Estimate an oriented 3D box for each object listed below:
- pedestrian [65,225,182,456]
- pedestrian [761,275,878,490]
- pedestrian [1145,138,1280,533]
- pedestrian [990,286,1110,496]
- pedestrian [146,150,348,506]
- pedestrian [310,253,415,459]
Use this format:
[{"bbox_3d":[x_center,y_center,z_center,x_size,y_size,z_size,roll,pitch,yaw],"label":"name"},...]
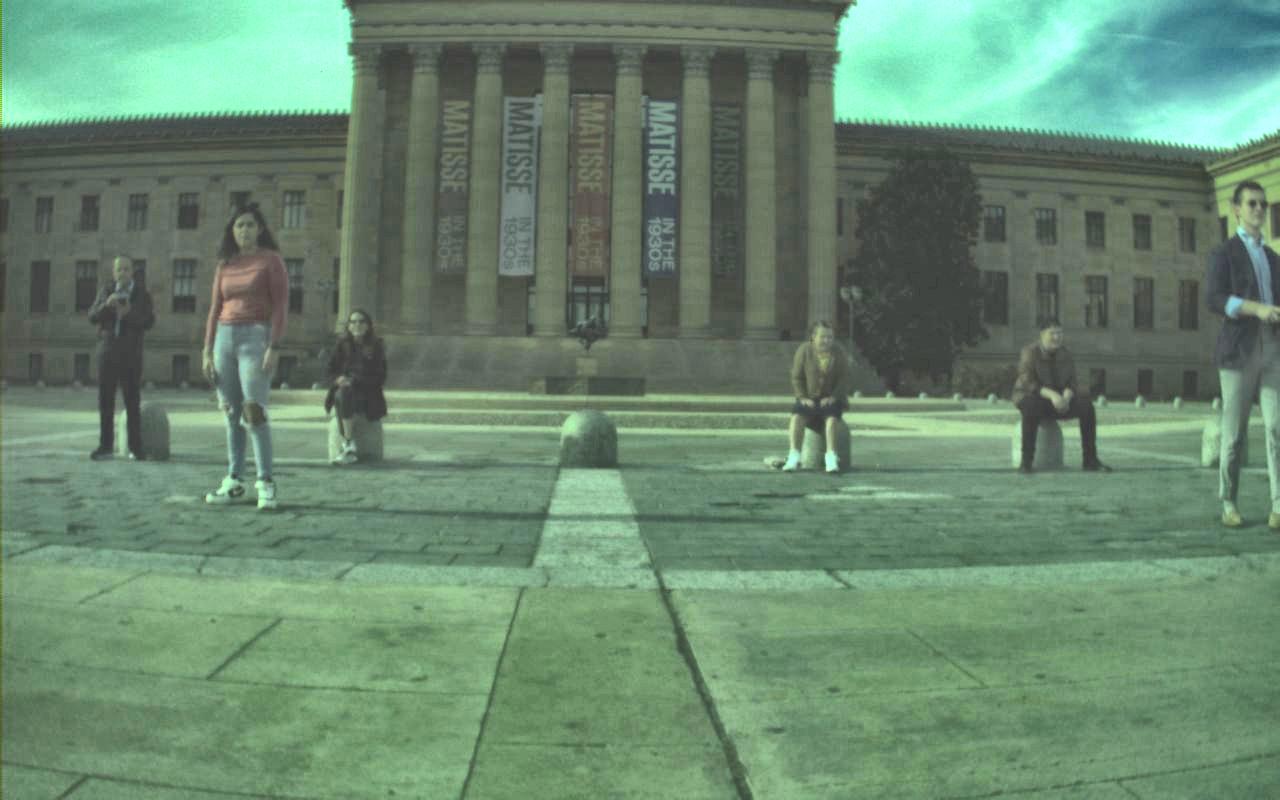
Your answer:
[{"bbox_3d":[-4.160,-0.452,9.377,0.795,1.779,0.829,0,0,-9],"label":"pedestrian"},{"bbox_3d":[1.421,-0.142,10.014,0.798,1.641,0.817,0,0,-2],"label":"pedestrian"},{"bbox_3d":[3.034,-0.295,5.703,0.801,1.834,0.851,0,0,2],"label":"pedestrian"},{"bbox_3d":[3.391,-0.067,10.029,0.796,1.663,0.817,0,0,0],"label":"pedestrian"},{"bbox_3d":[-2.075,-0.361,6.349,0.779,1.733,0.800,0,0,14],"label":"pedestrian"},{"bbox_3d":[-2.226,-0.348,9.936,0.762,1.596,0.791,0,0,-6],"label":"pedestrian"}]
